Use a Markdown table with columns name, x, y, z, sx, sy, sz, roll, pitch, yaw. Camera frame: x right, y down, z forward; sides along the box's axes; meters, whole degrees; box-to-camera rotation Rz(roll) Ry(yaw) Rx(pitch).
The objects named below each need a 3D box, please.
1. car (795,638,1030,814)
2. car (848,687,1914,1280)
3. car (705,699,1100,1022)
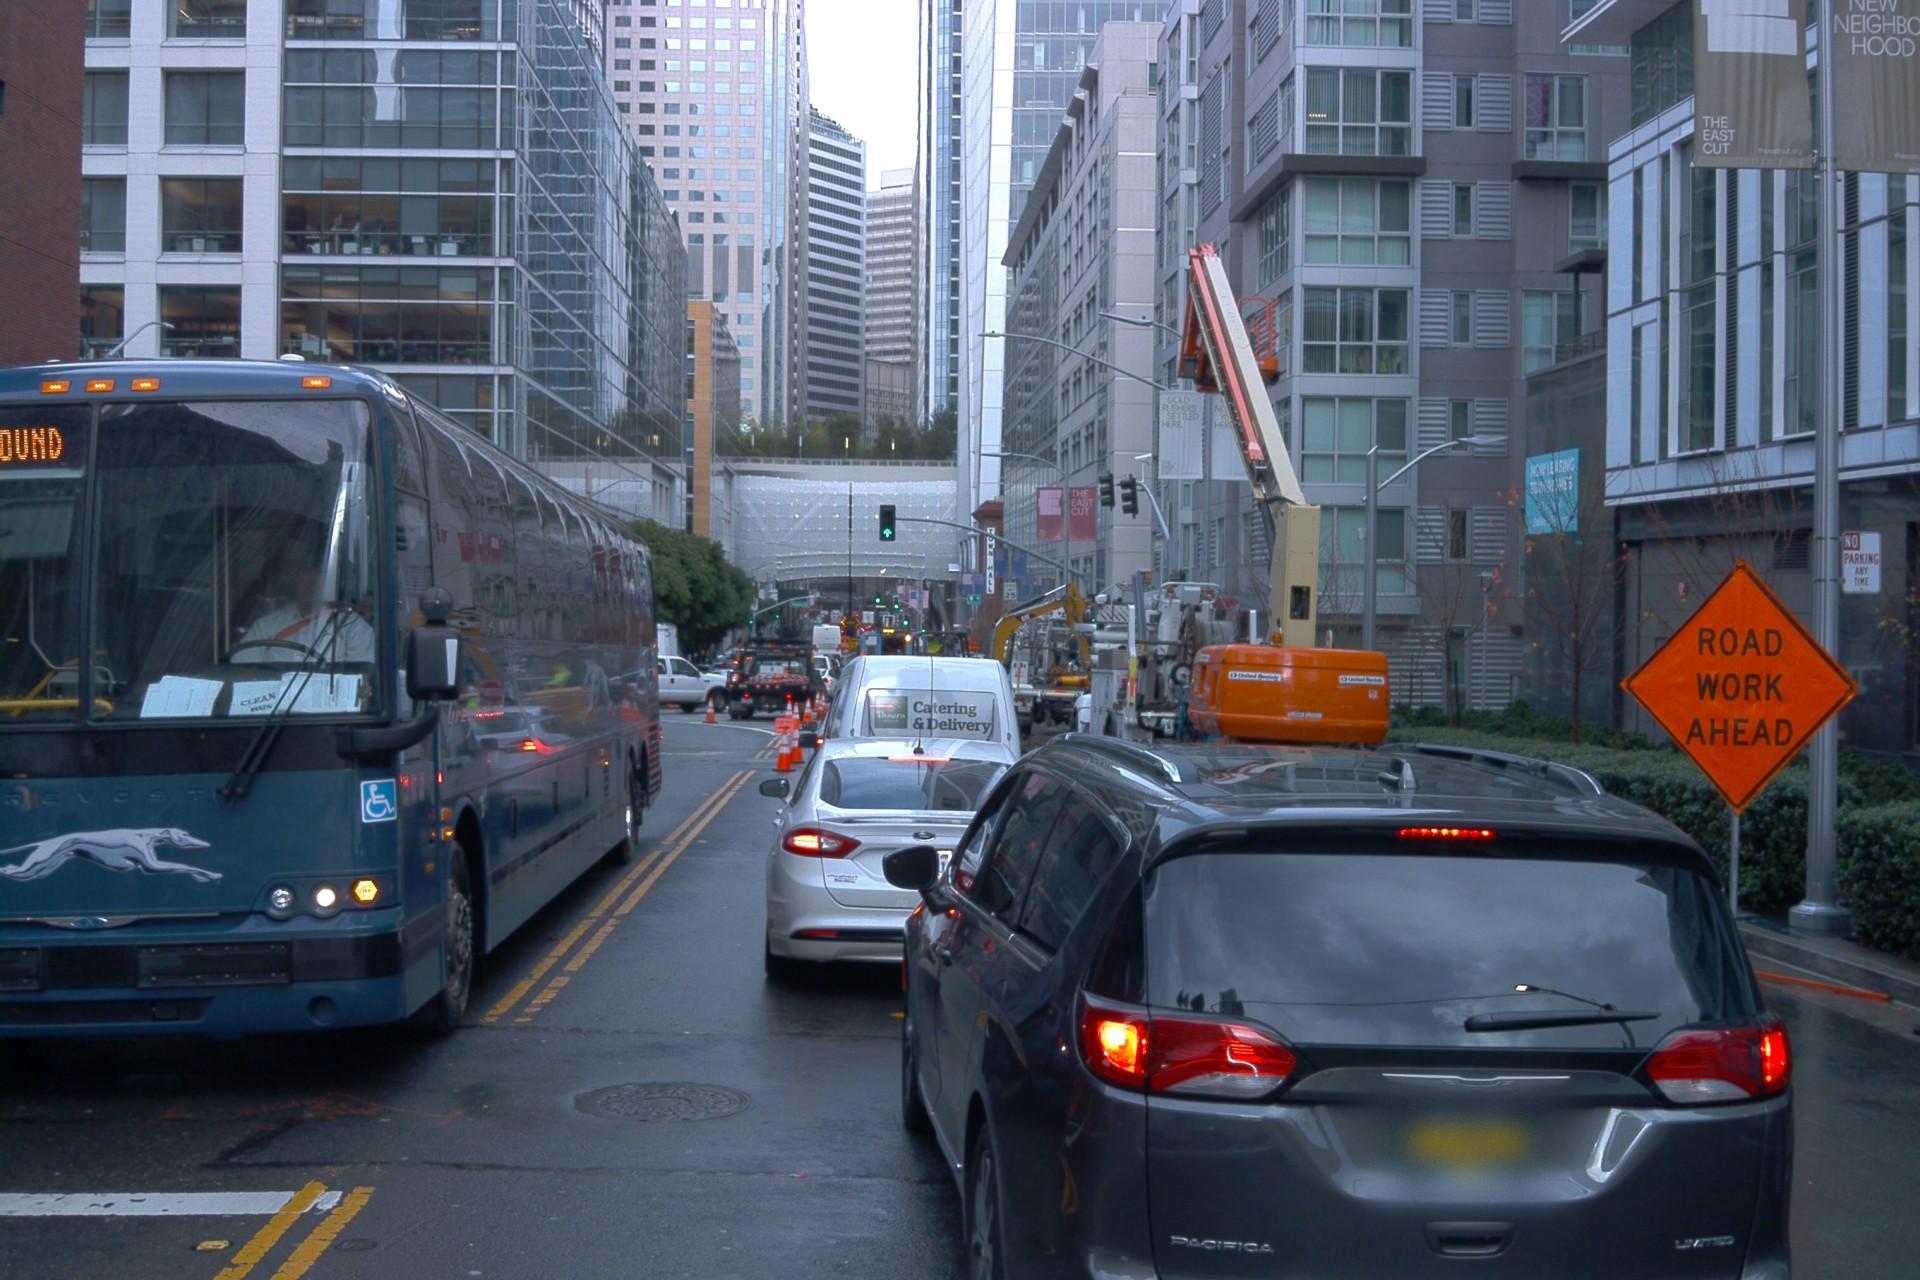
| name | x | y | z | sx | sy | sz | roll | pitch | yaw |
| --- | --- | --- | --- | --- | --- | --- | --- | --- | --- |
| car | -0.542 | 0.744 | 19.507 | 1.860 | 1.470 | 3.431 | 1 | 1 | -7 |
| car | 0.802 | 1.119 | 6.811 | 2.058 | 1.750 | 4.787 | 1 | 1 | -6 |
| car | -0.378 | 1.289 | 13.826 | 2.164 | 1.580 | 4.901 | 1 | 1 | -1 |
